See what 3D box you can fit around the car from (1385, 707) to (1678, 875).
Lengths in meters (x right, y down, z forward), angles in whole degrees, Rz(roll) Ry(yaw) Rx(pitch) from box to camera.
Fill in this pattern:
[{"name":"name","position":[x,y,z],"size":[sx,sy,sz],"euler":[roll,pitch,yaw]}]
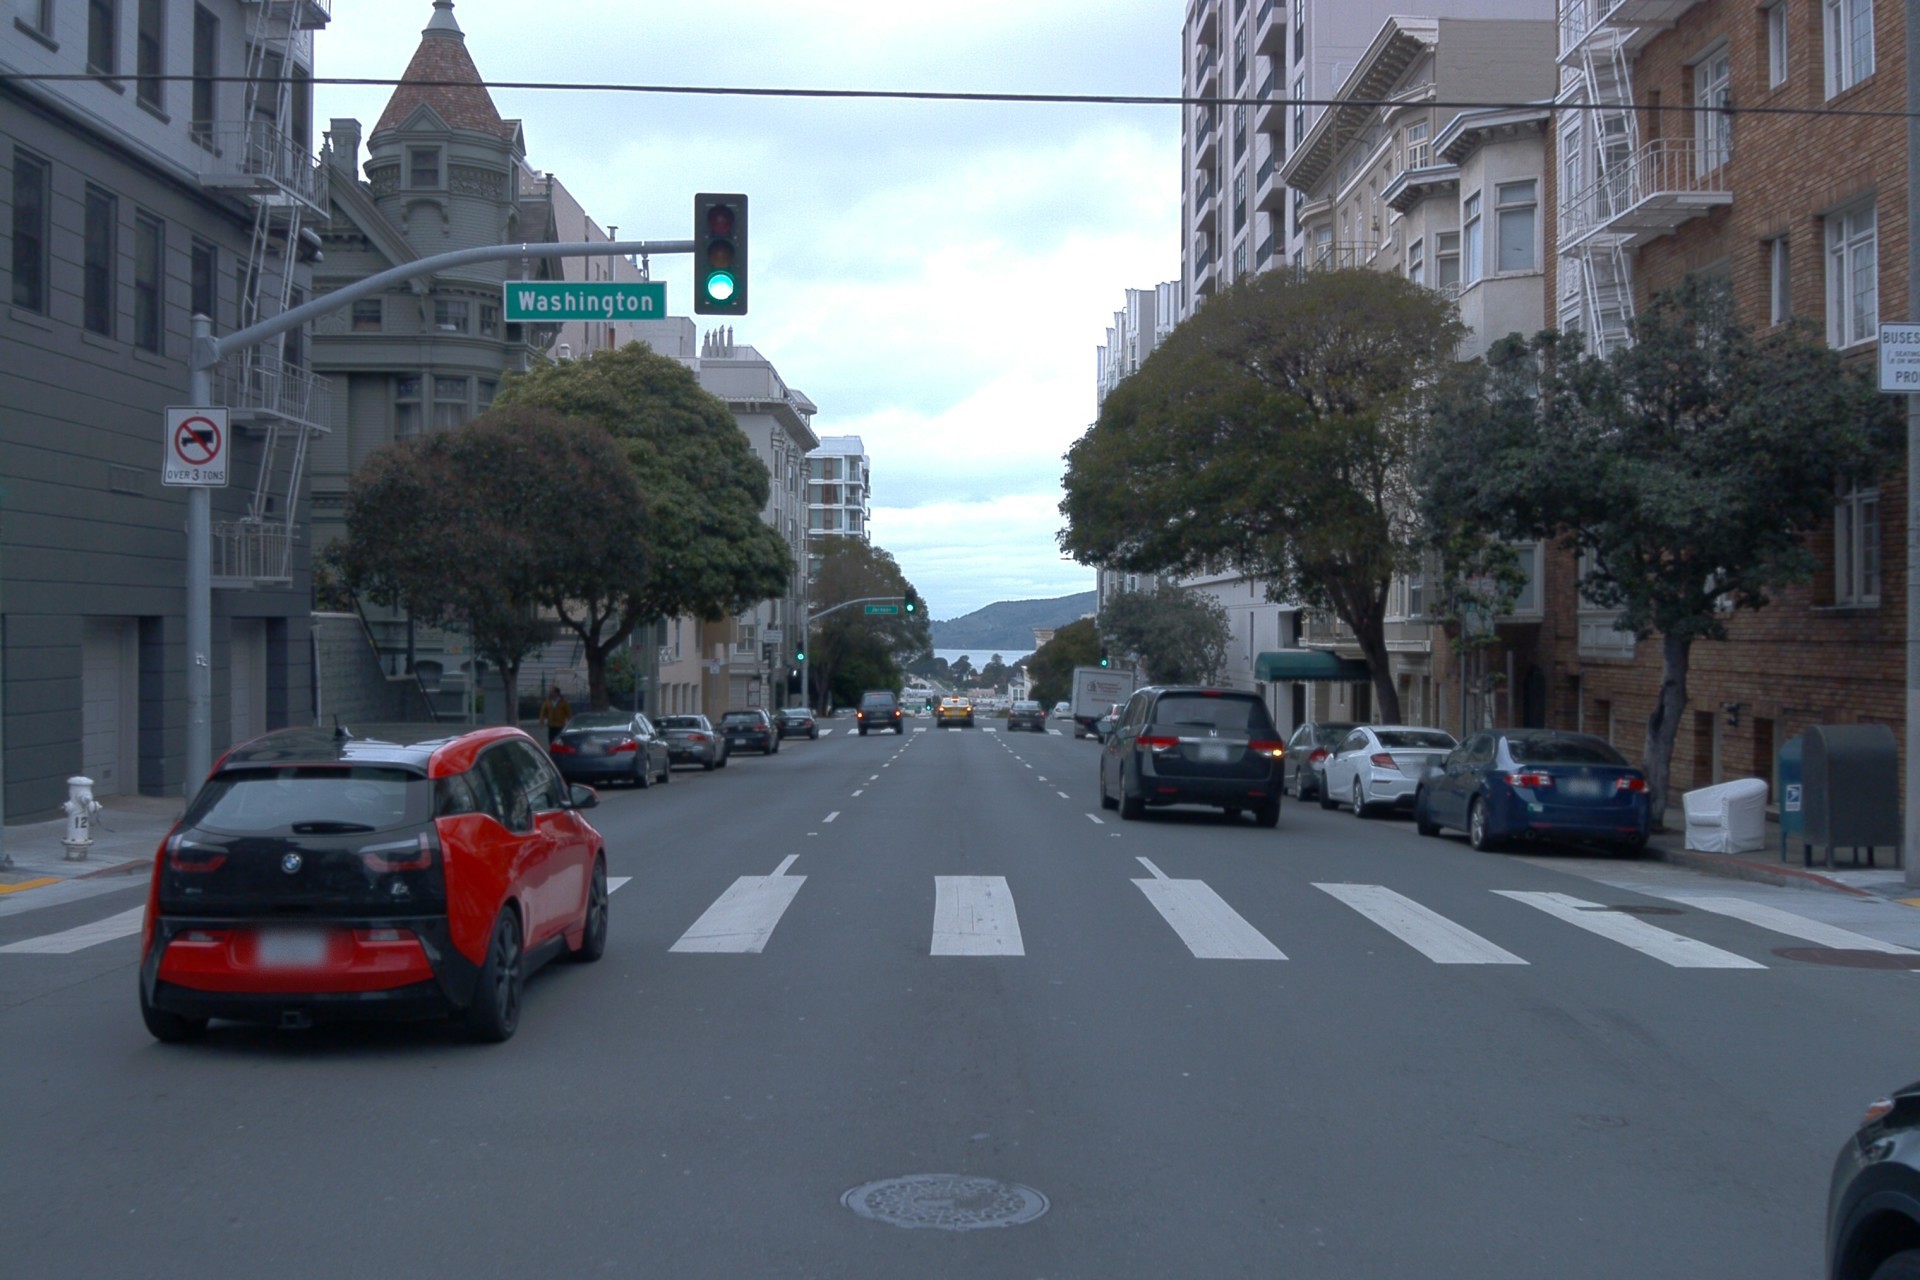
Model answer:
[{"name":"car","position":[6.724,1.722,24.740],"size":[2.139,1.620,4.922],"euler":[0,0,0]}]

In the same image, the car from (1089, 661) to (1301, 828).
[{"name":"car","position":[2.975,1.280,27.059],"size":[2.200,1.890,4.938],"euler":[0,1,0]}]

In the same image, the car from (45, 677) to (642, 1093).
[{"name":"car","position":[-3.135,1.158,11.400],"size":[2.065,1.780,4.070],"euler":[0,1,0]}]

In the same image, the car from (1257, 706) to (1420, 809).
[{"name":"car","position":[6.760,2.067,37.144],"size":[2.066,1.560,4.708],"euler":[0,0,0]}]

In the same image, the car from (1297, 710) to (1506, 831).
[{"name":"car","position":[6.683,1.942,31.582],"size":[2.110,1.530,4.722],"euler":[0,0,-1]}]
